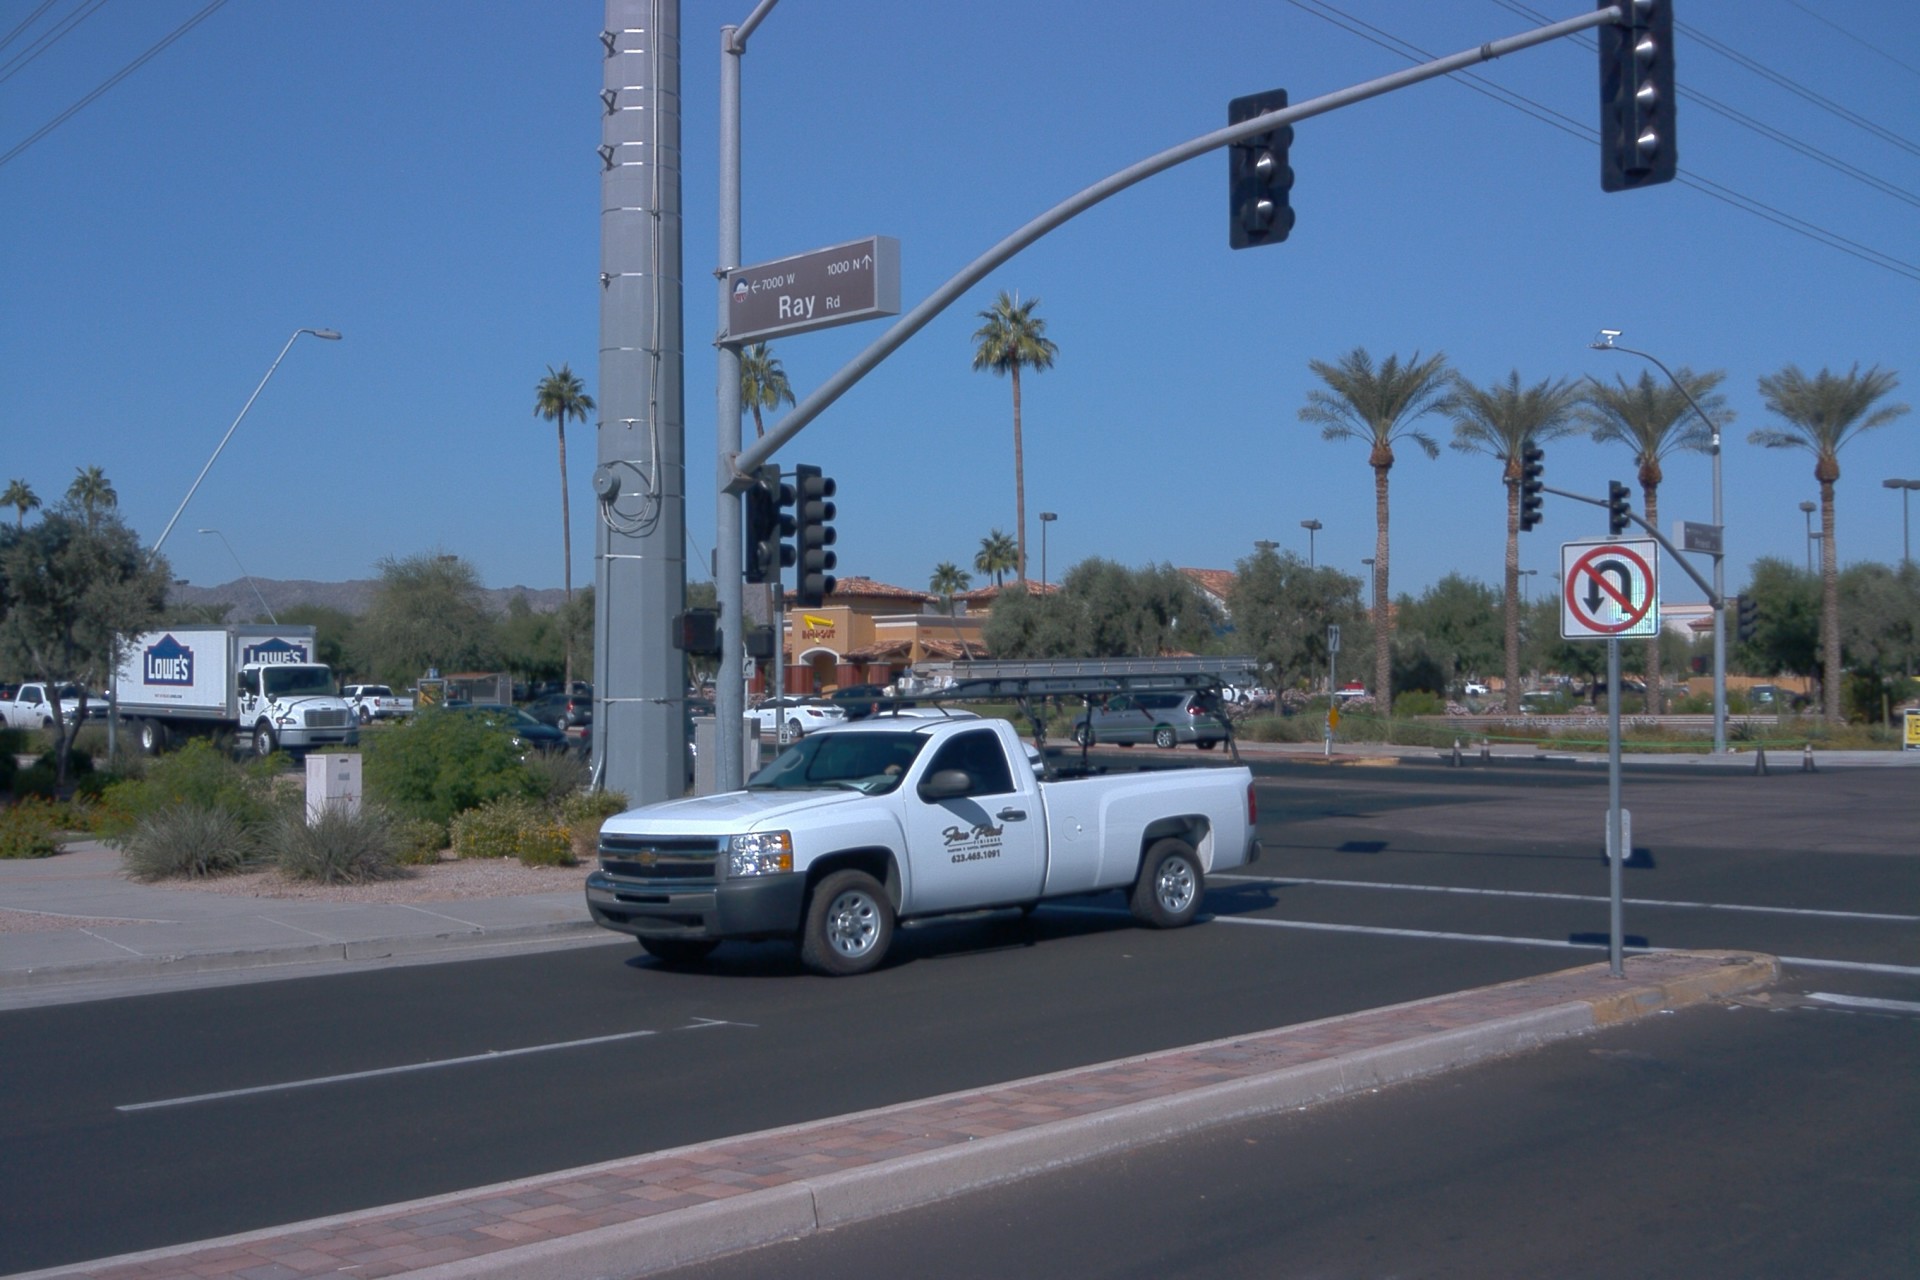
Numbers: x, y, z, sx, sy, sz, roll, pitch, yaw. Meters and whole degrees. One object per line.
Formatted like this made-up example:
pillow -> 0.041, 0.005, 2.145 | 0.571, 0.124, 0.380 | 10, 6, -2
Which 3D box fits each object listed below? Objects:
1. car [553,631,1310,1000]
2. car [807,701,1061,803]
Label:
car -> 0.017, 1.186, 16.748 | 6.197, 2.450, 2.396 | 1, 0, -45
car -> -0.521, 1.948, 36.841 | 1.979, 1.570, 4.450 | 1, 0, -45
